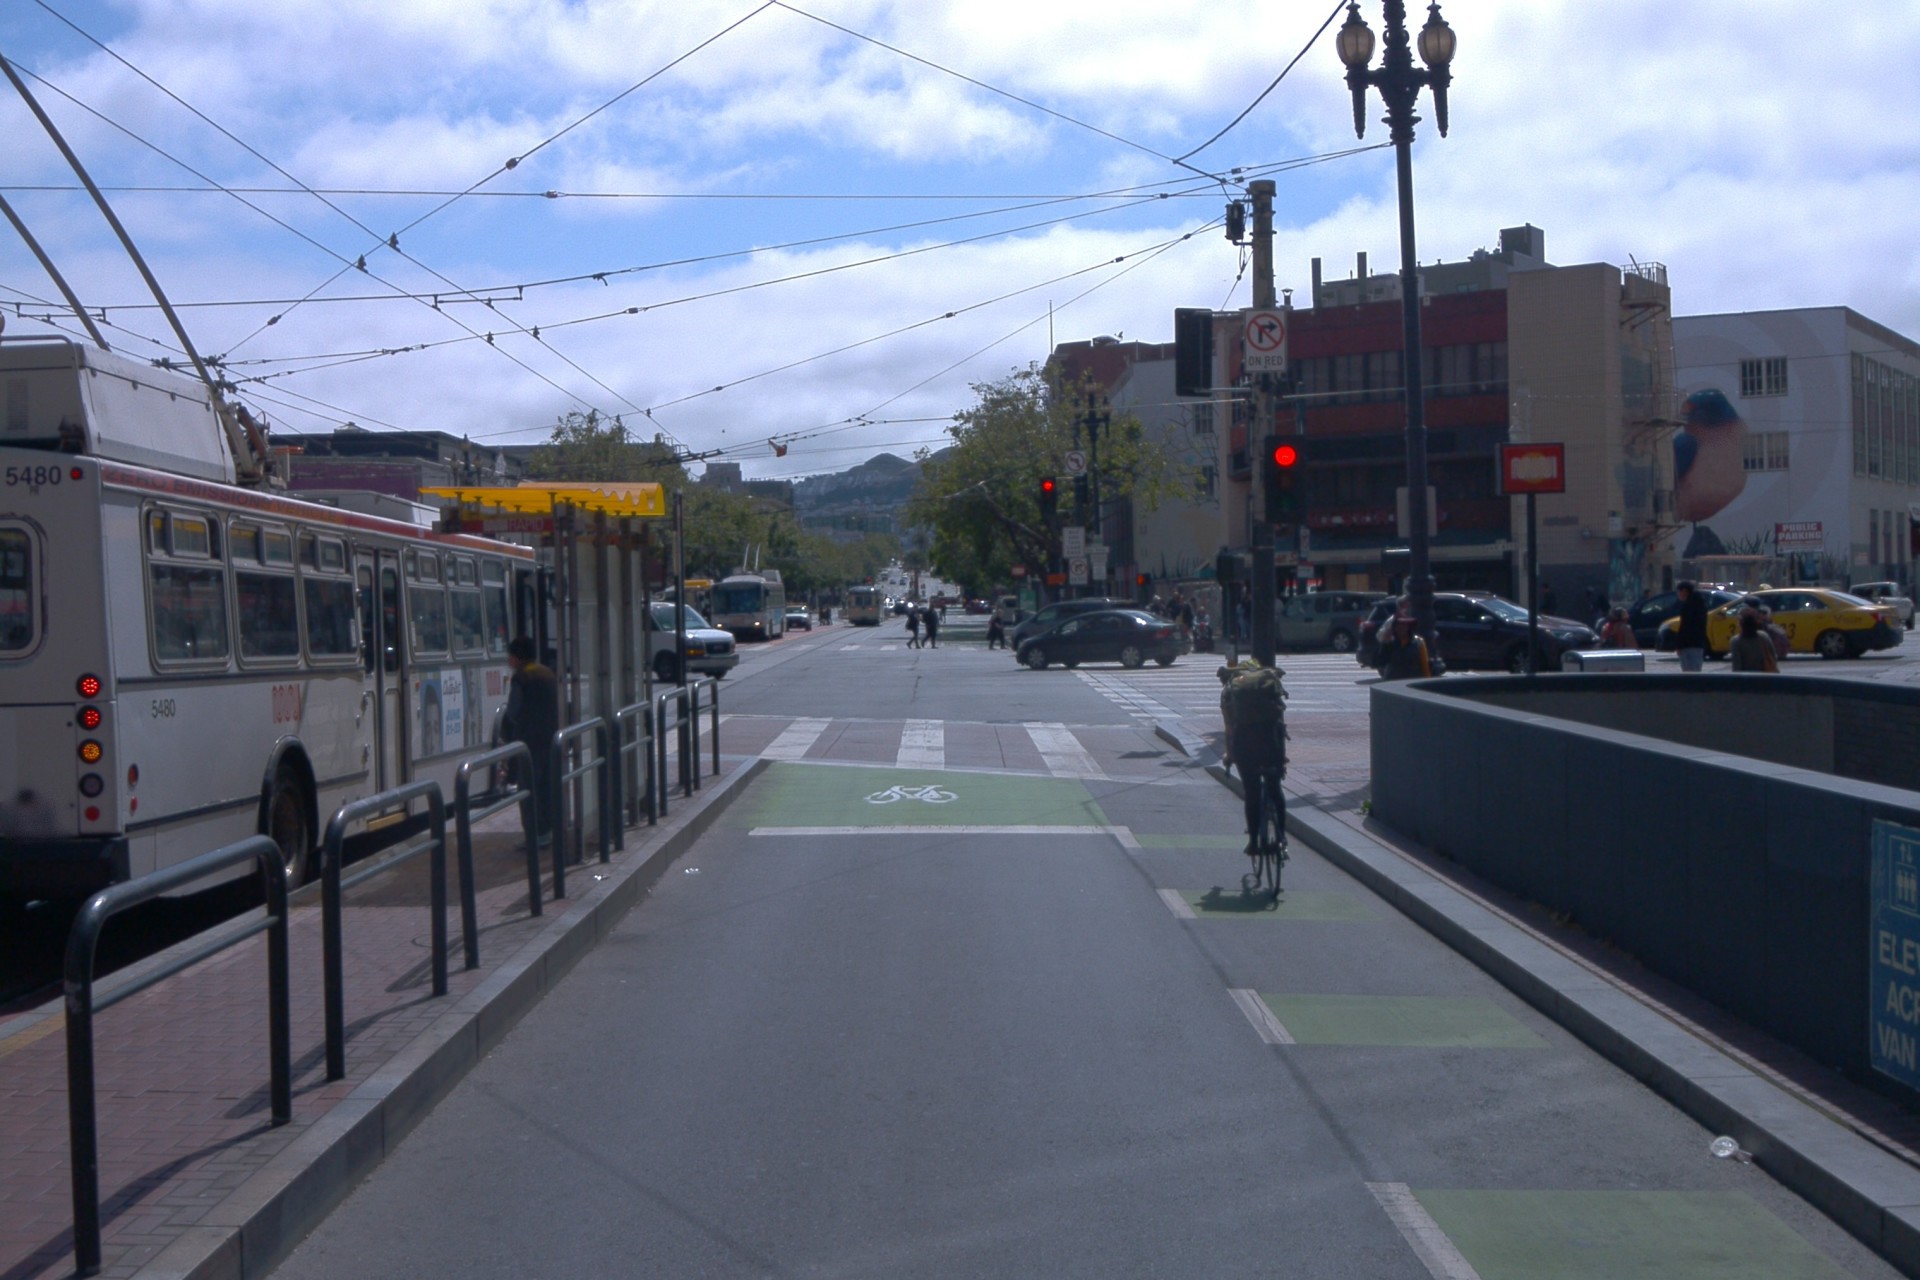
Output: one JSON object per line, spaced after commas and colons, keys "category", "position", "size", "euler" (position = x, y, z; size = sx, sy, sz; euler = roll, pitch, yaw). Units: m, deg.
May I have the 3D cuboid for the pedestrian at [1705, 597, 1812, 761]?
{"category": "pedestrian", "position": [8.684, 0.408, 22.379], "size": [0.756, 1.740, 0.858], "euler": [0, 1, -7]}

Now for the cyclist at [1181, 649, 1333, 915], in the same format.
{"category": "cyclist", "position": [2.109, 0.964, 14.813], "size": [0.806, 1.770, 1.802], "euler": [0, 1, -1]}

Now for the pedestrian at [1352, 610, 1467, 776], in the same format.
{"category": "pedestrian", "position": [4.821, 0.550, 22.079], "size": [1.045, 1.750, 0.818], "euler": [0, 1, -1]}

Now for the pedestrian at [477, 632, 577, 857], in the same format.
{"category": "pedestrian", "position": [-3.303, 0.782, 15.714], "size": [0.667, 1.680, 0.622], "euler": [0, 1, -4]}
